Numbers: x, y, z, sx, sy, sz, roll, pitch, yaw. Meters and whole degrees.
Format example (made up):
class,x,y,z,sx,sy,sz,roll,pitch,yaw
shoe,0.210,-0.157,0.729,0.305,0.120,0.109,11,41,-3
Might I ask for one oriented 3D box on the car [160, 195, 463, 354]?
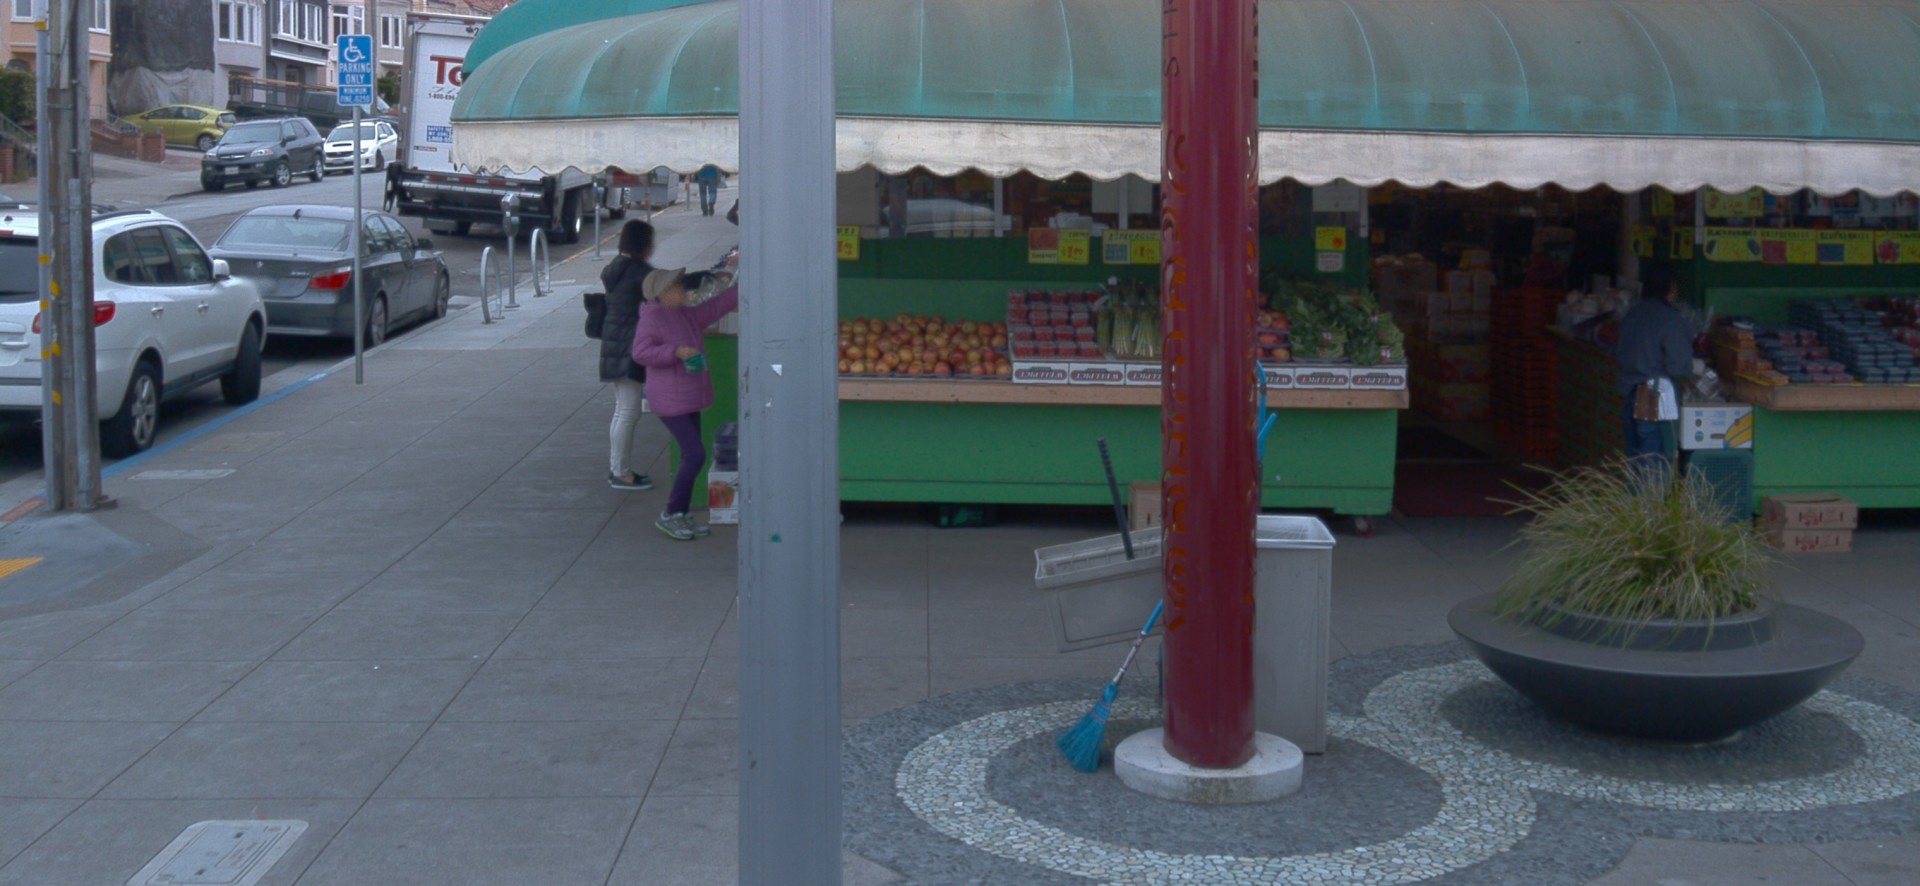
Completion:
class,x,y,z,sx,sy,sz,roll,pitch,yaw
car,-6.733,-1.850,21.915,1.969,1.513,4.609,0,6,-3

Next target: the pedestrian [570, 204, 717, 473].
class,x,y,z,sx,sy,sz,roll,pitch,yaw
pedestrian,-1.976,-0.676,12.790,0.796,1.607,0.823,-1,2,-17

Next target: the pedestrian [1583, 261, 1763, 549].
class,x,y,z,sx,sy,sz,roll,pitch,yaw
pedestrian,4.002,-0.237,11.601,0.743,1.557,0.755,0,2,0

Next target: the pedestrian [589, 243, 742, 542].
class,x,y,z,sx,sy,sz,roll,pitch,yaw
pedestrian,-1.596,-0.304,11.220,0.797,1.564,0.706,0,2,-7

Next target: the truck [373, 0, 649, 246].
class,x,y,z,sx,sy,sz,roll,pitch,yaw
truck,-7.693,-5.481,36.849,2.914,3.770,10.115,0,5,-1
